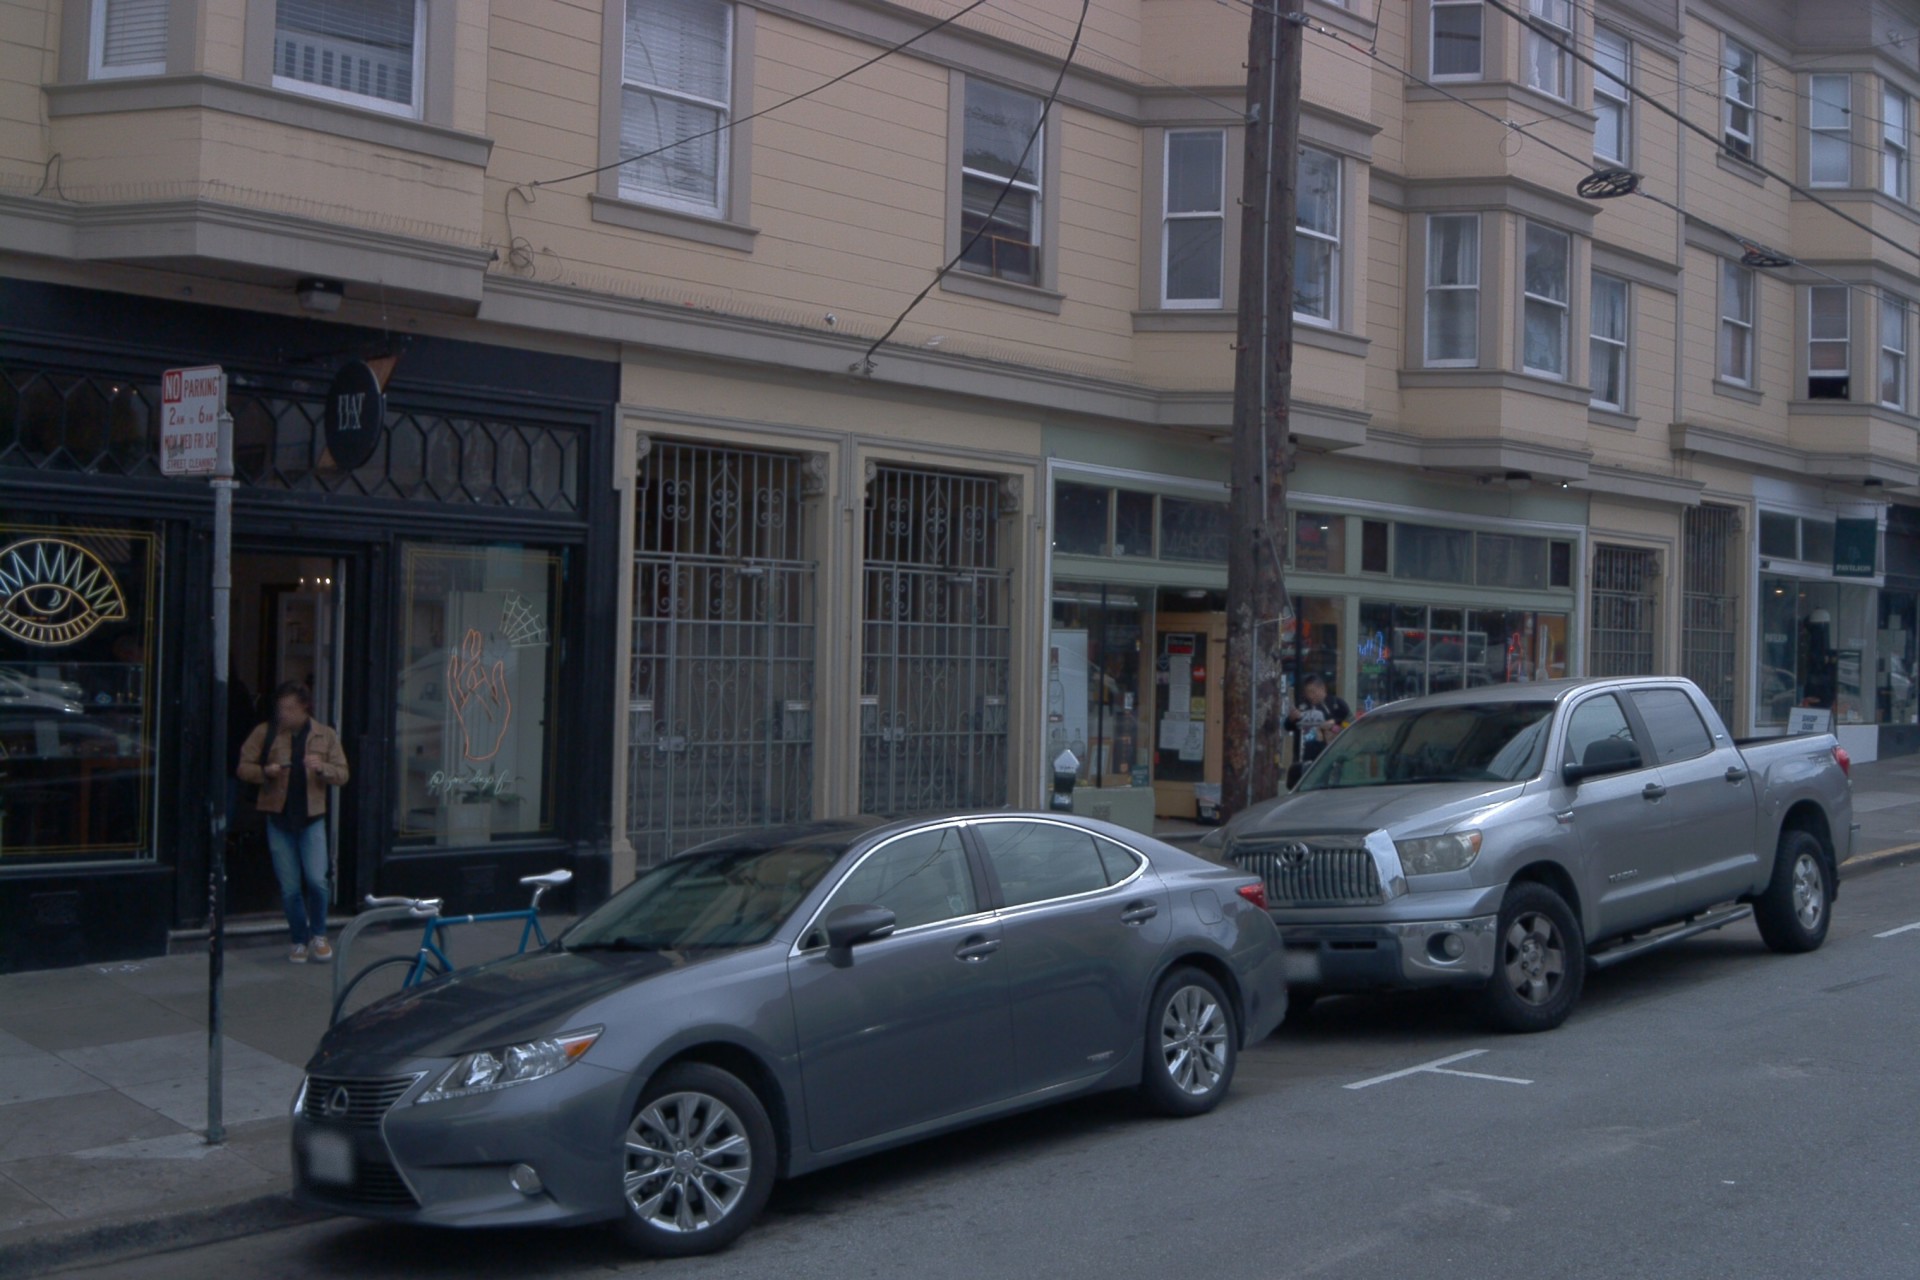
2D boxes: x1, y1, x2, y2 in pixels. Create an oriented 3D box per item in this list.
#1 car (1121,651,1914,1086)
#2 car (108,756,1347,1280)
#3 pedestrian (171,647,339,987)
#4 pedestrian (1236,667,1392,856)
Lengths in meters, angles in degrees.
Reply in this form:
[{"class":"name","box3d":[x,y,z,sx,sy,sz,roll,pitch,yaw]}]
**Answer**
[{"class":"car","box3d":[3.791,1.143,13.102,2.302,2.010,5.900,1,1,44]},{"class":"car","box3d":[-0.662,1.426,8.700,2.189,1.490,4.940,1,1,43]},{"class":"pedestrian","box3d":[-4.169,1.018,12.265,0.814,1.930,0.768,0,1,-9]},{"class":"pedestrian","box3d":[3.375,1.125,19.665,1.069,1.693,1.065,1,1,41]}]
